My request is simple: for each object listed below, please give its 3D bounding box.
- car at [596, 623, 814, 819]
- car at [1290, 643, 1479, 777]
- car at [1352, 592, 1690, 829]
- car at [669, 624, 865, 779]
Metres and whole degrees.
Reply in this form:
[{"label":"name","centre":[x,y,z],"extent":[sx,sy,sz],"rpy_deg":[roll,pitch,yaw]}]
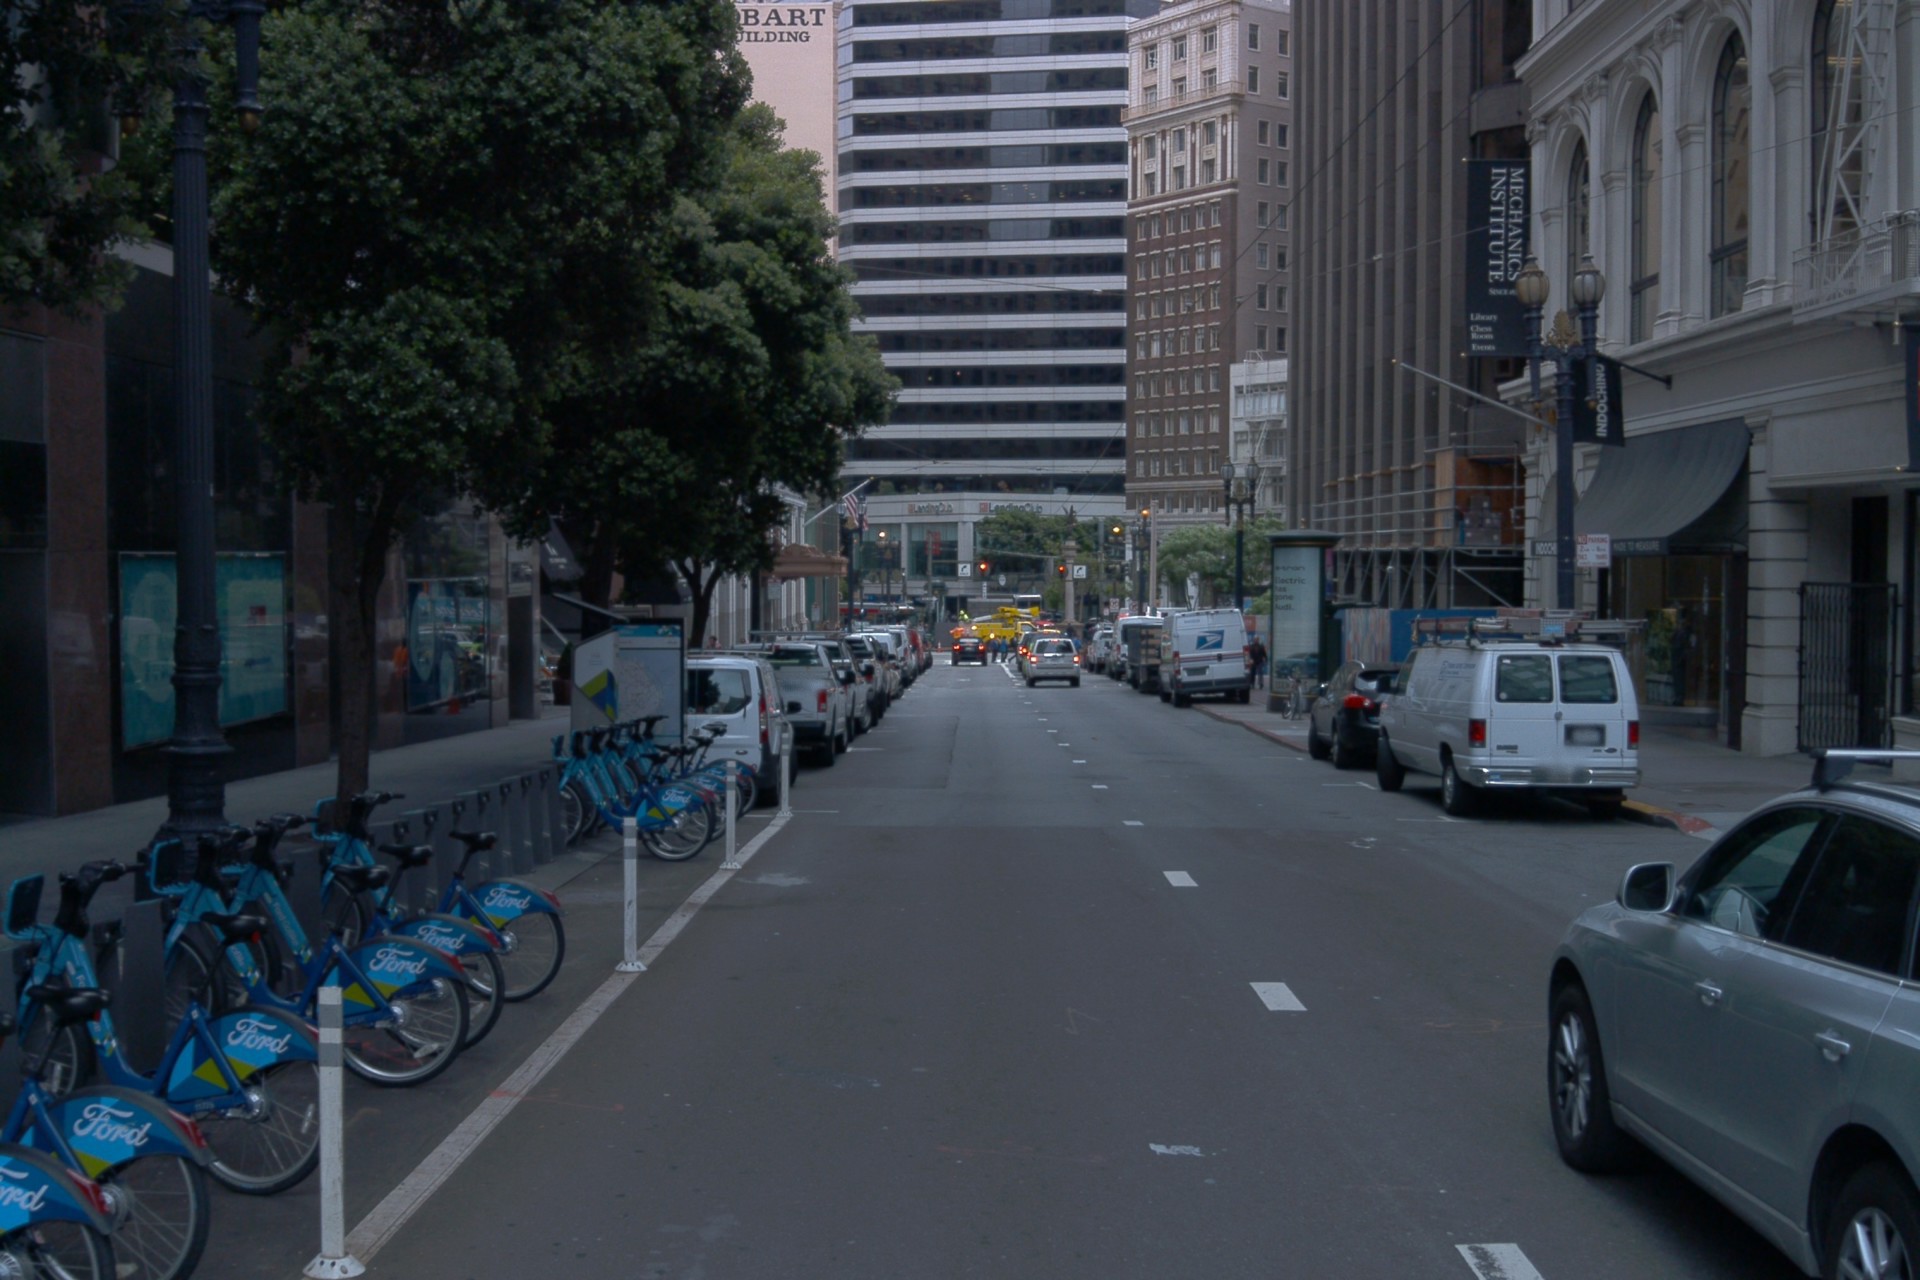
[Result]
[{"label":"car","centre":[-3.053,0.894,25.777],"extent":[2.104,2.190,4.866],"rpy_deg":[0,1,0]},{"label":"car","centre":[6.680,1.046,33.041],"extent":[2.149,1.910,4.792],"rpy_deg":[0,1,2]},{"label":"car","centre":[6.762,0.748,25.778],"extent":[2.583,2.600,5.825],"rpy_deg":[0,1,0]},{"label":"car","centre":[-2.934,0.864,32.939],"extent":[2.452,2.210,6.011],"rpy_deg":[0,1,1]}]
